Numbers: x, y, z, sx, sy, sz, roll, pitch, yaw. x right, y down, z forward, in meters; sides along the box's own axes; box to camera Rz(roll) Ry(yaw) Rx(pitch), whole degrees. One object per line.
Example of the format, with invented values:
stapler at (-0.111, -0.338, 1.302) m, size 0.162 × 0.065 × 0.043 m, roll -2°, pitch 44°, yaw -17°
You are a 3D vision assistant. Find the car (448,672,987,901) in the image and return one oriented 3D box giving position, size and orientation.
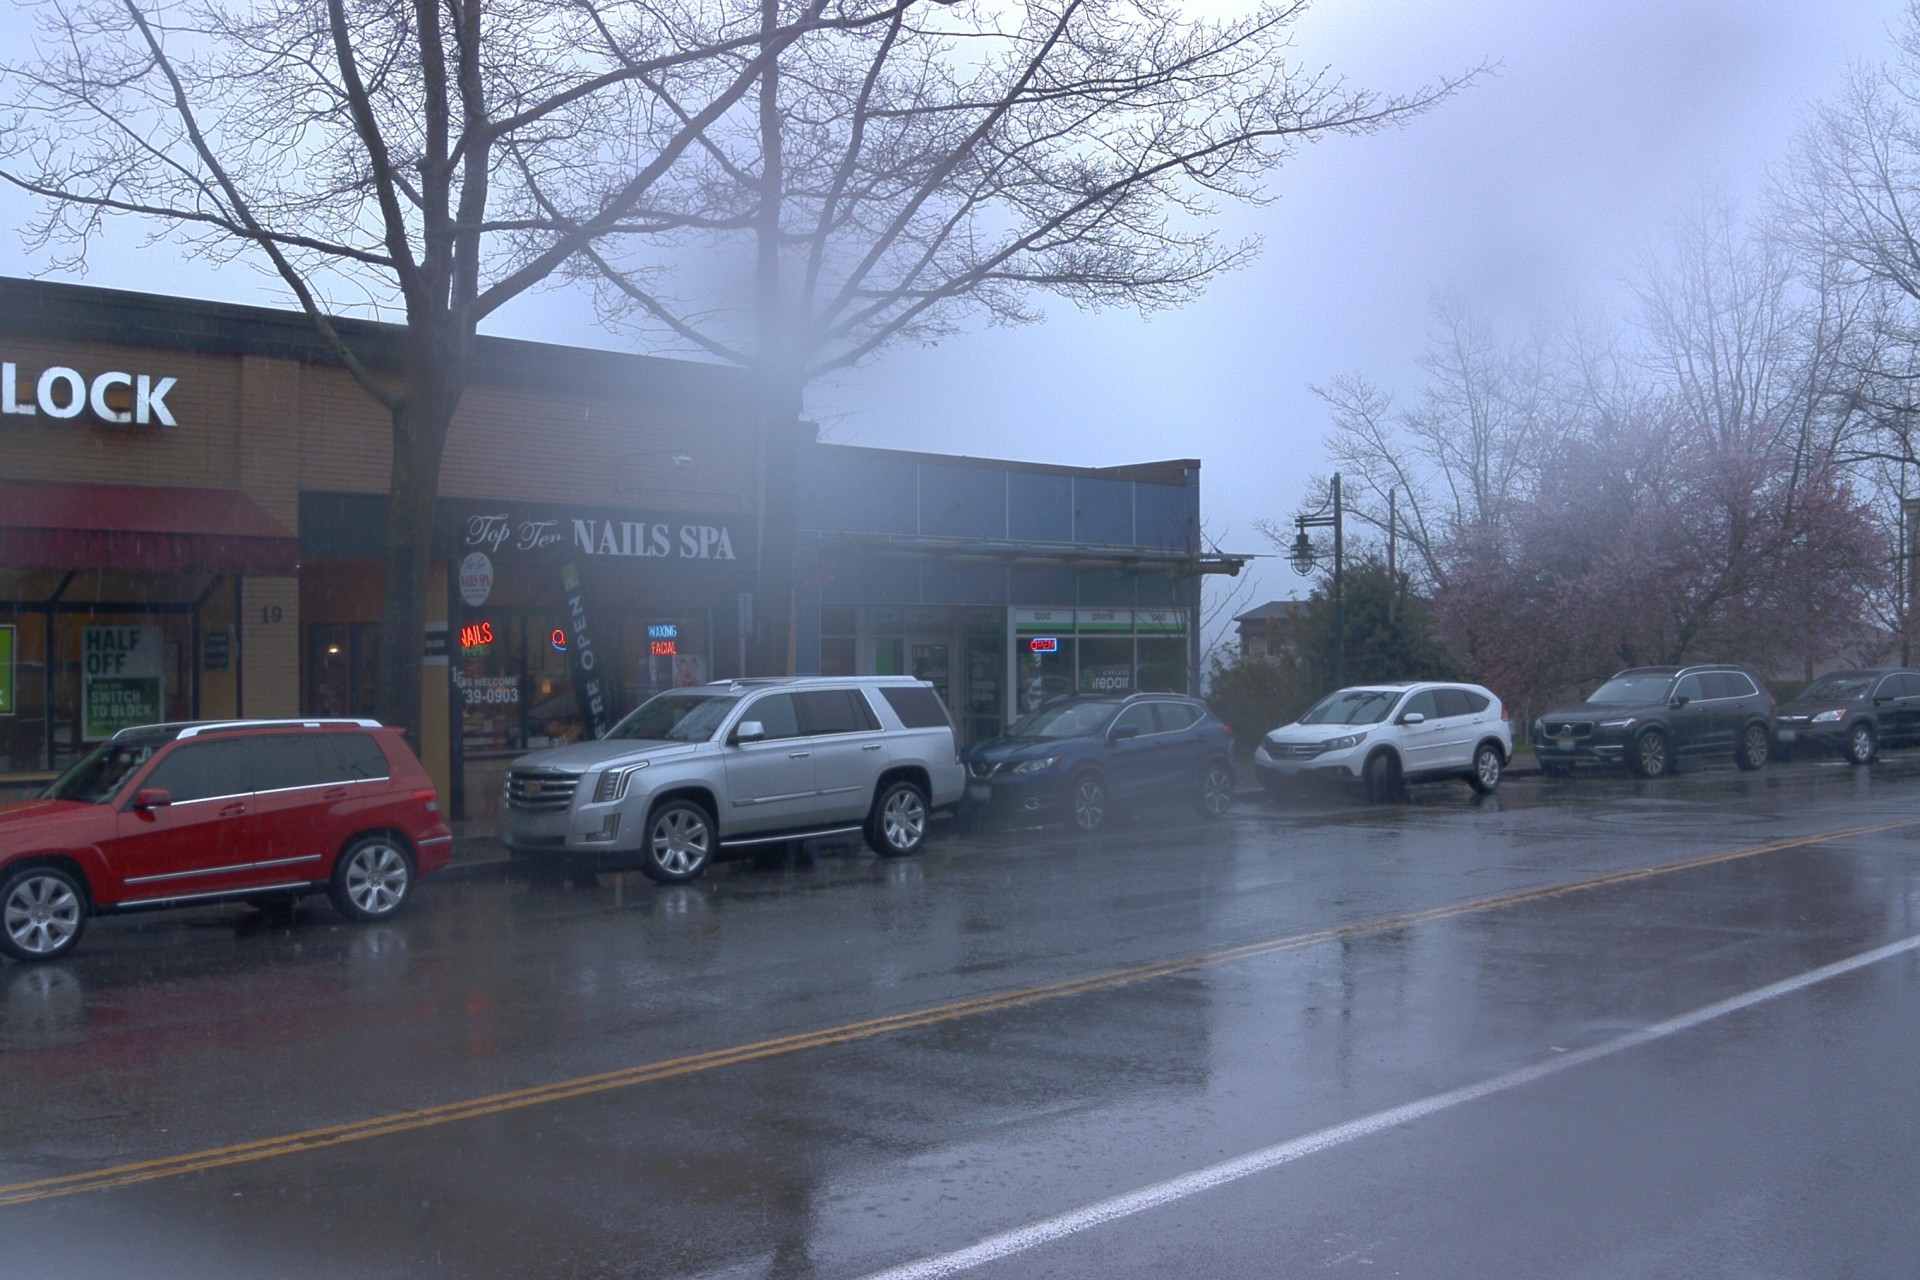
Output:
car at (-2.323, 1.343, 21.042) m, size 2.331 × 1.890 × 5.194 m, roll 1°, pitch 1°, yaw 42°

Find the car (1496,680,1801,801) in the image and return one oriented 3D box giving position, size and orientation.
car at (11.412, 1.587, 34.054) m, size 5.296 × 1.690 × 2.144 m, roll -1°, pitch 1°, yaw -37°

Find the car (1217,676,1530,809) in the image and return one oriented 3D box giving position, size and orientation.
car at (5.978, 1.394, 29.579) m, size 4.481 × 1.610 × 2.181 m, roll -1°, pitch 1°, yaw -43°

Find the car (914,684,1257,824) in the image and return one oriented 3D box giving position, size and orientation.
car at (1.623, 1.323, 25.280) m, size 1.999 × 1.400 × 4.335 m, roll 1°, pitch 1°, yaw 40°
